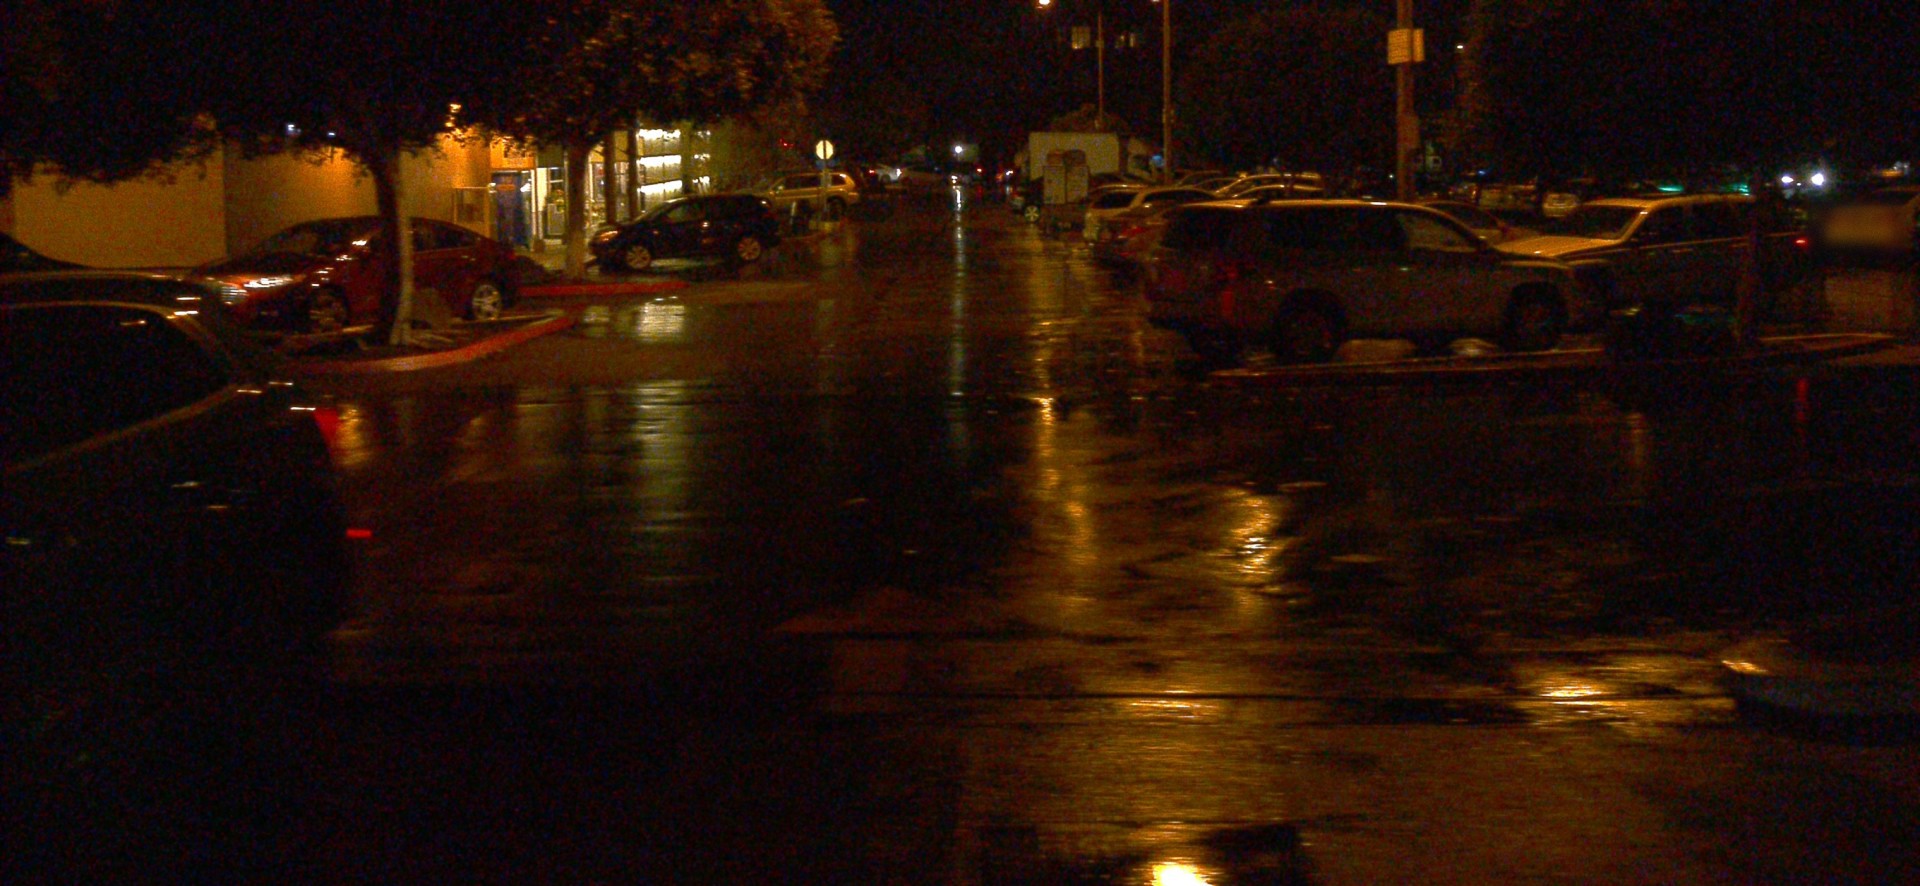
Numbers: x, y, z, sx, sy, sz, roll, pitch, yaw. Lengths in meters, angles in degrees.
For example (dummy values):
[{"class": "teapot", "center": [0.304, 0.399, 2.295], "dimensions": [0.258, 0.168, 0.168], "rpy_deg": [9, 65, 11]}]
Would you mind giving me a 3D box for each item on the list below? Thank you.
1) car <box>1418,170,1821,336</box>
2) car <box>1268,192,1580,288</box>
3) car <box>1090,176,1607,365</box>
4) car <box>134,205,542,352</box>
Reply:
[{"class": "car", "center": [8.530, -2.464, 26.575], "dimensions": [4.709, 1.987, 2.199], "rpy_deg": [-2, 4, -24]}, {"class": "car", "center": [8.008, -3.496, 35.449], "dimensions": [4.868, 1.566, 2.217], "rpy_deg": [-2, 4, -23]}, {"class": "car", "center": [4.118, -1.845, 21.782], "dimensions": [4.952, 1.816, 2.318], "rpy_deg": [-2, 4, -24]}, {"class": "car", "center": [-7.421, -2.060, 25.085], "dimensions": [1.989, 1.604, 4.906], "rpy_deg": [2, 5, 25]}]
